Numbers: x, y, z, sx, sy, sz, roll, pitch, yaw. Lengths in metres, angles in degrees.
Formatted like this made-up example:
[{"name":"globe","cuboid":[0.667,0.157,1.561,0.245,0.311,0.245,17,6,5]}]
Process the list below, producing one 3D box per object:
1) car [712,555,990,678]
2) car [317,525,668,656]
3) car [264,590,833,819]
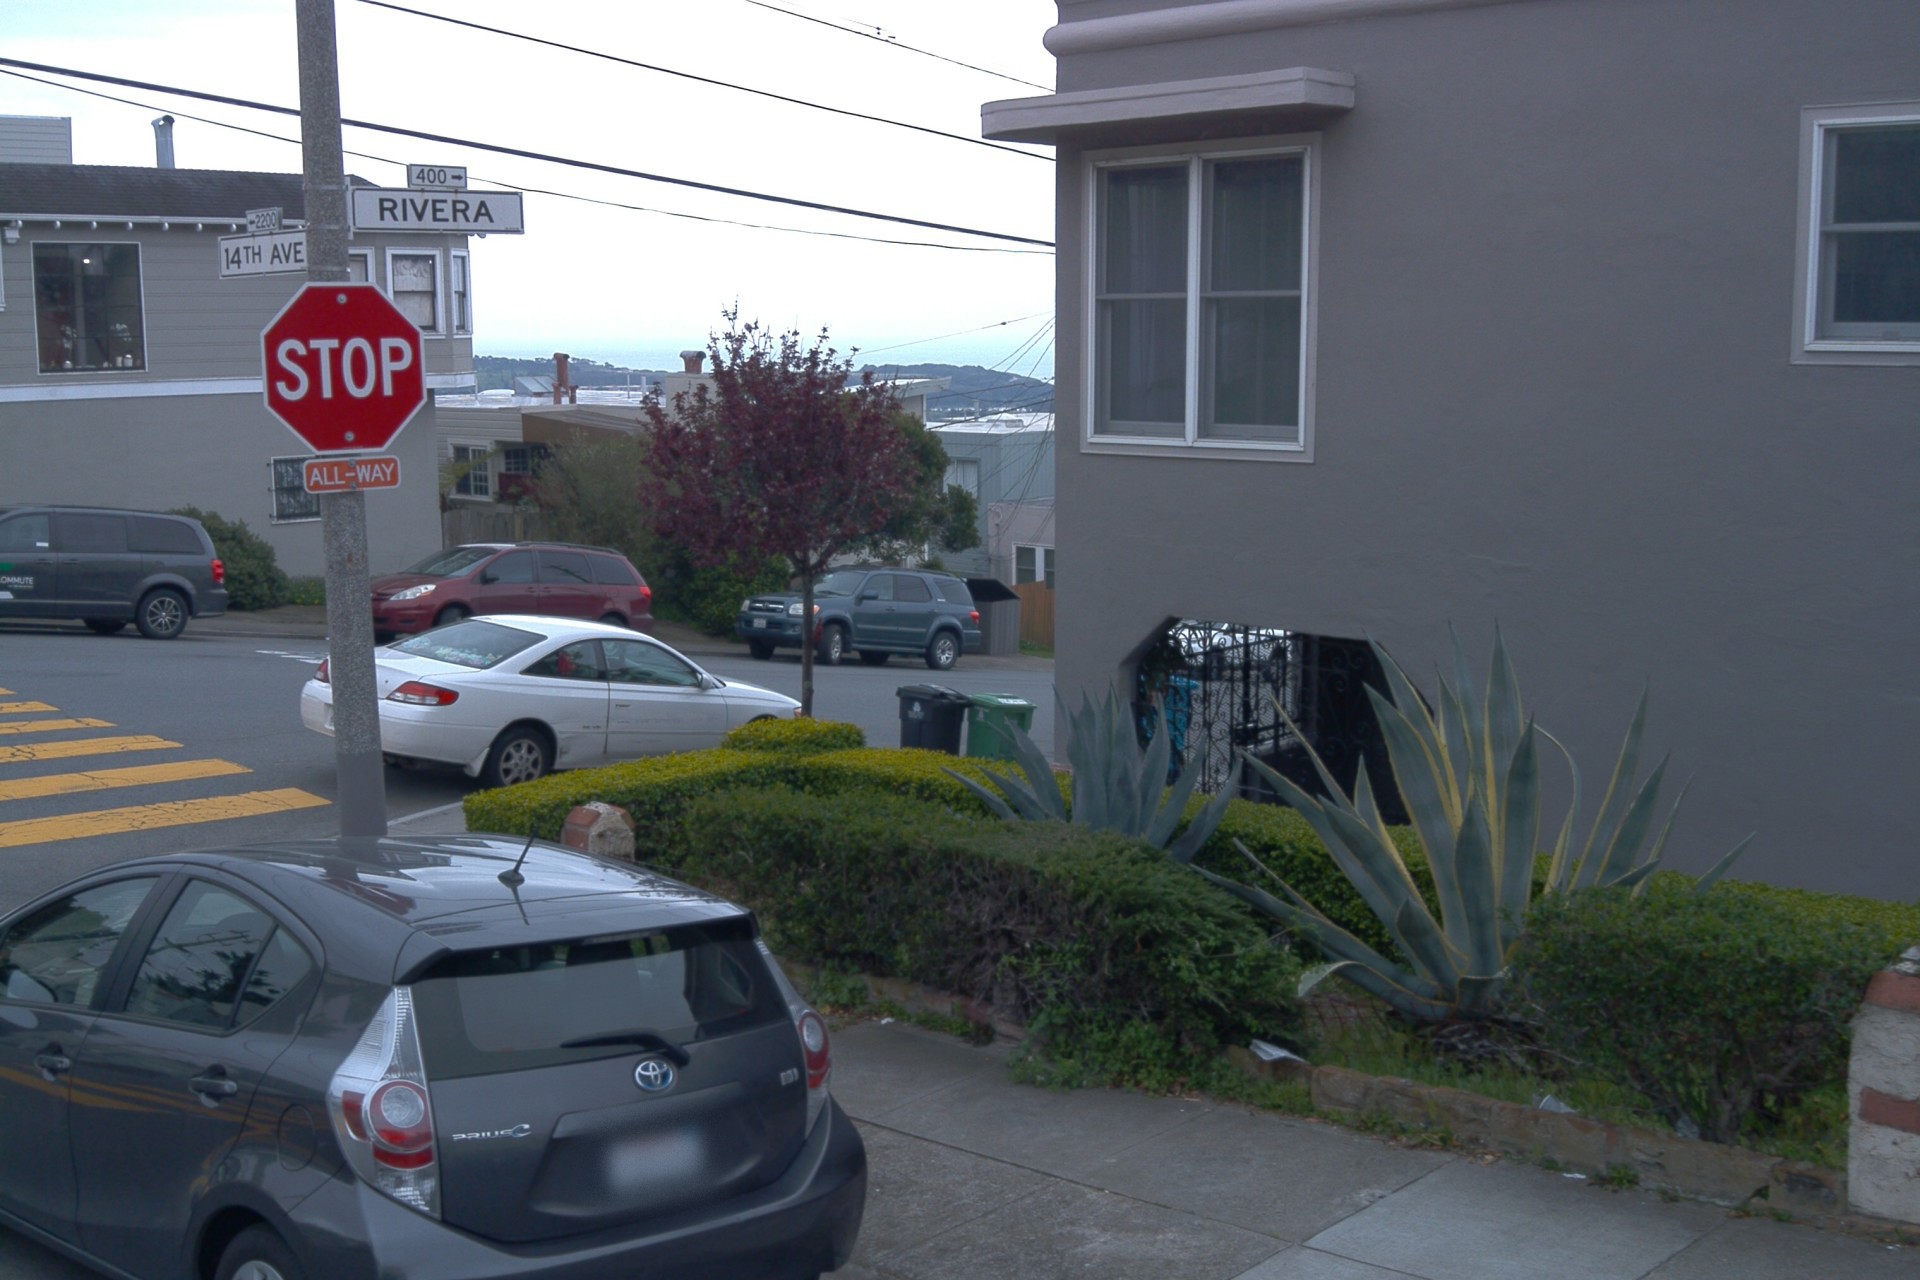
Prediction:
[{"name":"car","cuboid":[-1.964,-0.407,38.614,2.213,2.150,5.139,0,0,42]},{"name":"car","cuboid":[-7.369,-0.720,32.890,2.210,1.930,5.121,0,0,42]},{"name":"car","cuboid":[-3.412,0.488,17.862,1.985,1.720,4.615,0,0,40]}]
